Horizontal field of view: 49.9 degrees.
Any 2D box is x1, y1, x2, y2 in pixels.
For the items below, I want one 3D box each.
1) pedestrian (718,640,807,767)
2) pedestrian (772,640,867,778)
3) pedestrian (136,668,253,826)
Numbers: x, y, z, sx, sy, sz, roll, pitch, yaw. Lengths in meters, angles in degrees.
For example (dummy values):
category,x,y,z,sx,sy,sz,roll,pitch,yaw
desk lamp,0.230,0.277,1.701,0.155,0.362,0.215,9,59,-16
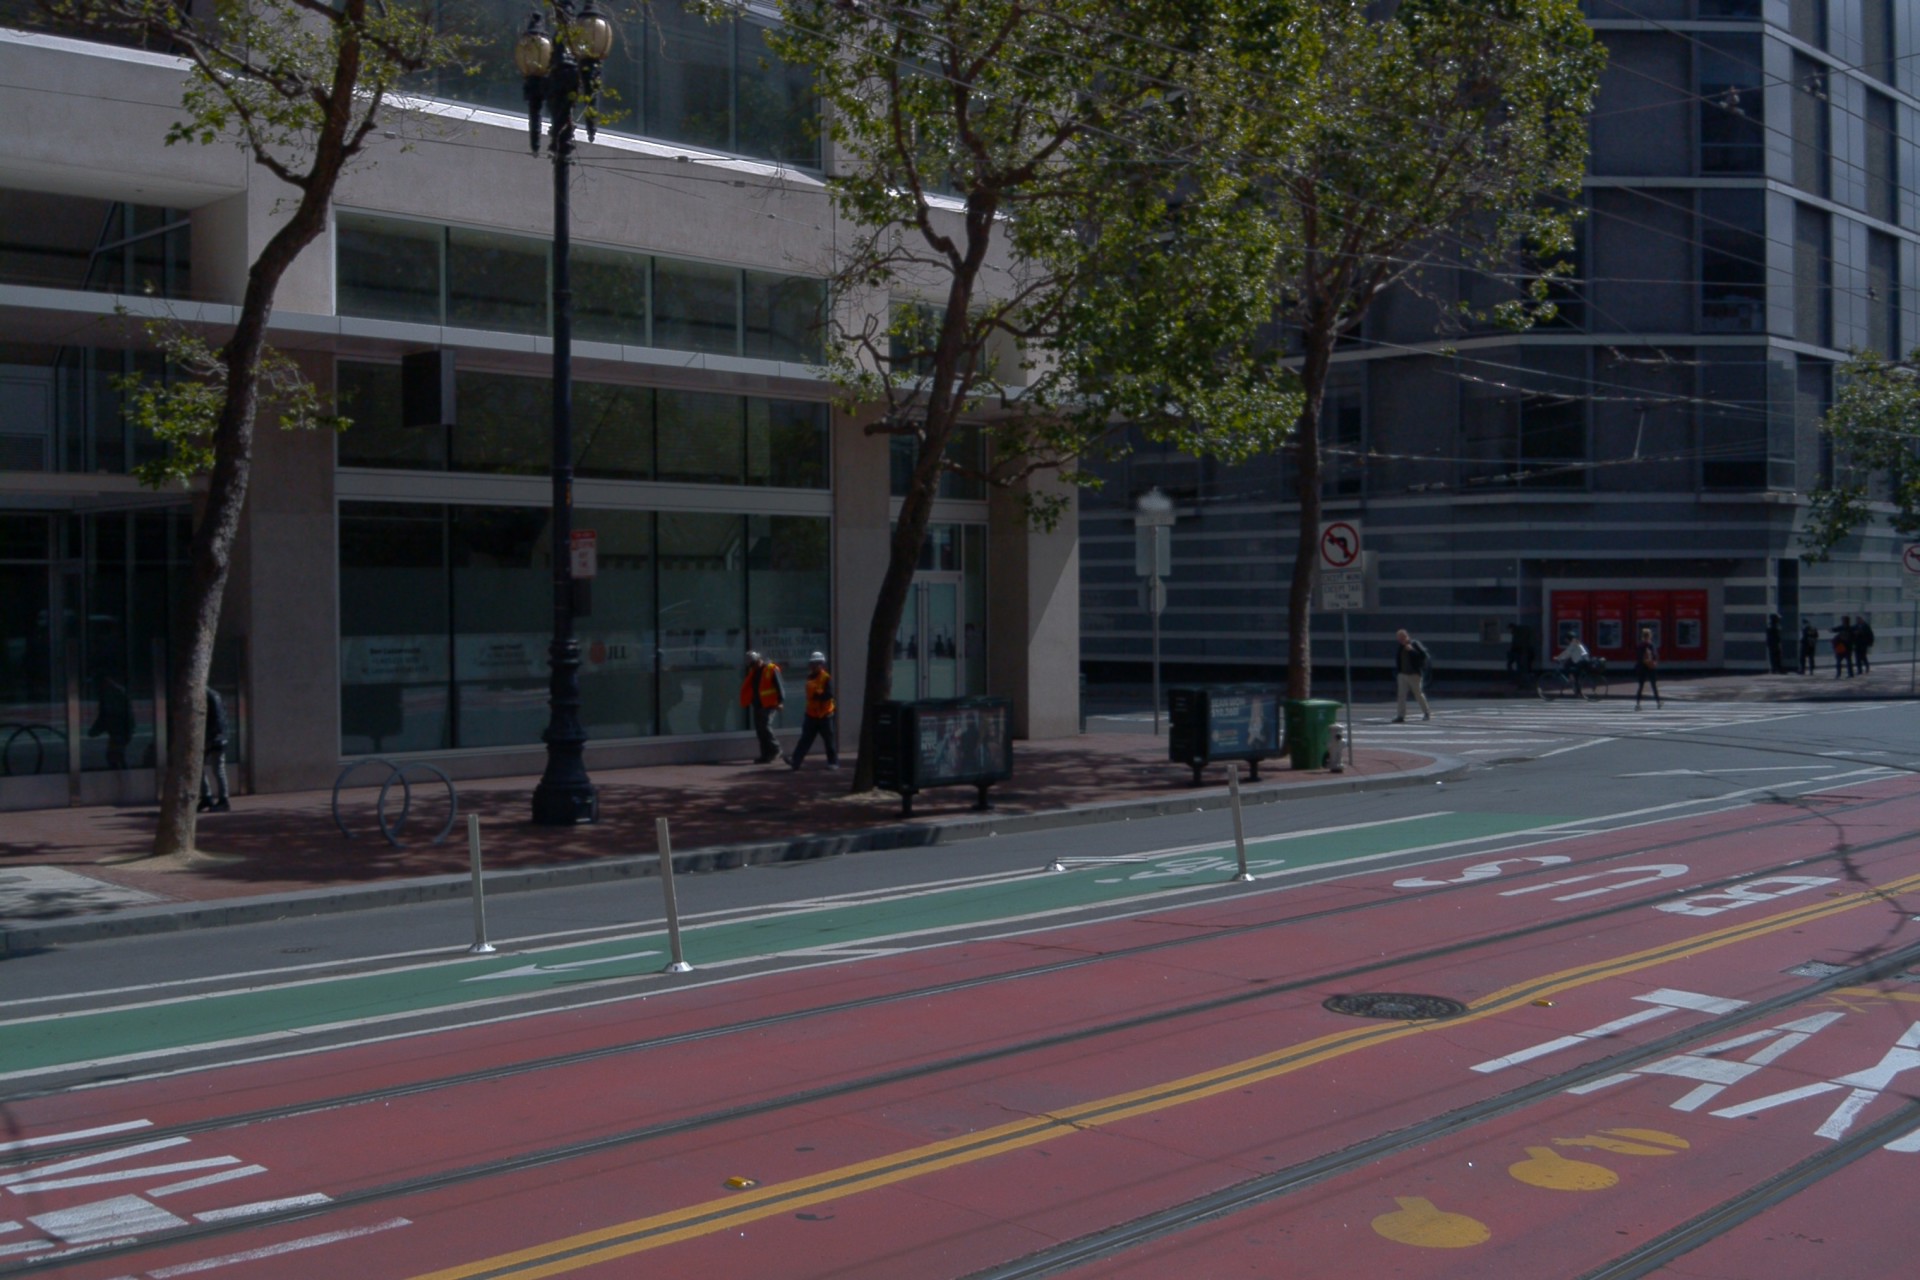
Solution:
category,x,y,z,sx,sy,sz,roll,pitch,yaw
pedestrian,-2.906,0.919,30.378,0.994,1.810,0.855,-1,1,-40
pedestrian,-2.006,0.958,29.405,1.042,1.910,0.846,-1,1,-44
pedestrian,-8.700,1.195,23.469,1.011,1.710,0.760,-1,1,-44
